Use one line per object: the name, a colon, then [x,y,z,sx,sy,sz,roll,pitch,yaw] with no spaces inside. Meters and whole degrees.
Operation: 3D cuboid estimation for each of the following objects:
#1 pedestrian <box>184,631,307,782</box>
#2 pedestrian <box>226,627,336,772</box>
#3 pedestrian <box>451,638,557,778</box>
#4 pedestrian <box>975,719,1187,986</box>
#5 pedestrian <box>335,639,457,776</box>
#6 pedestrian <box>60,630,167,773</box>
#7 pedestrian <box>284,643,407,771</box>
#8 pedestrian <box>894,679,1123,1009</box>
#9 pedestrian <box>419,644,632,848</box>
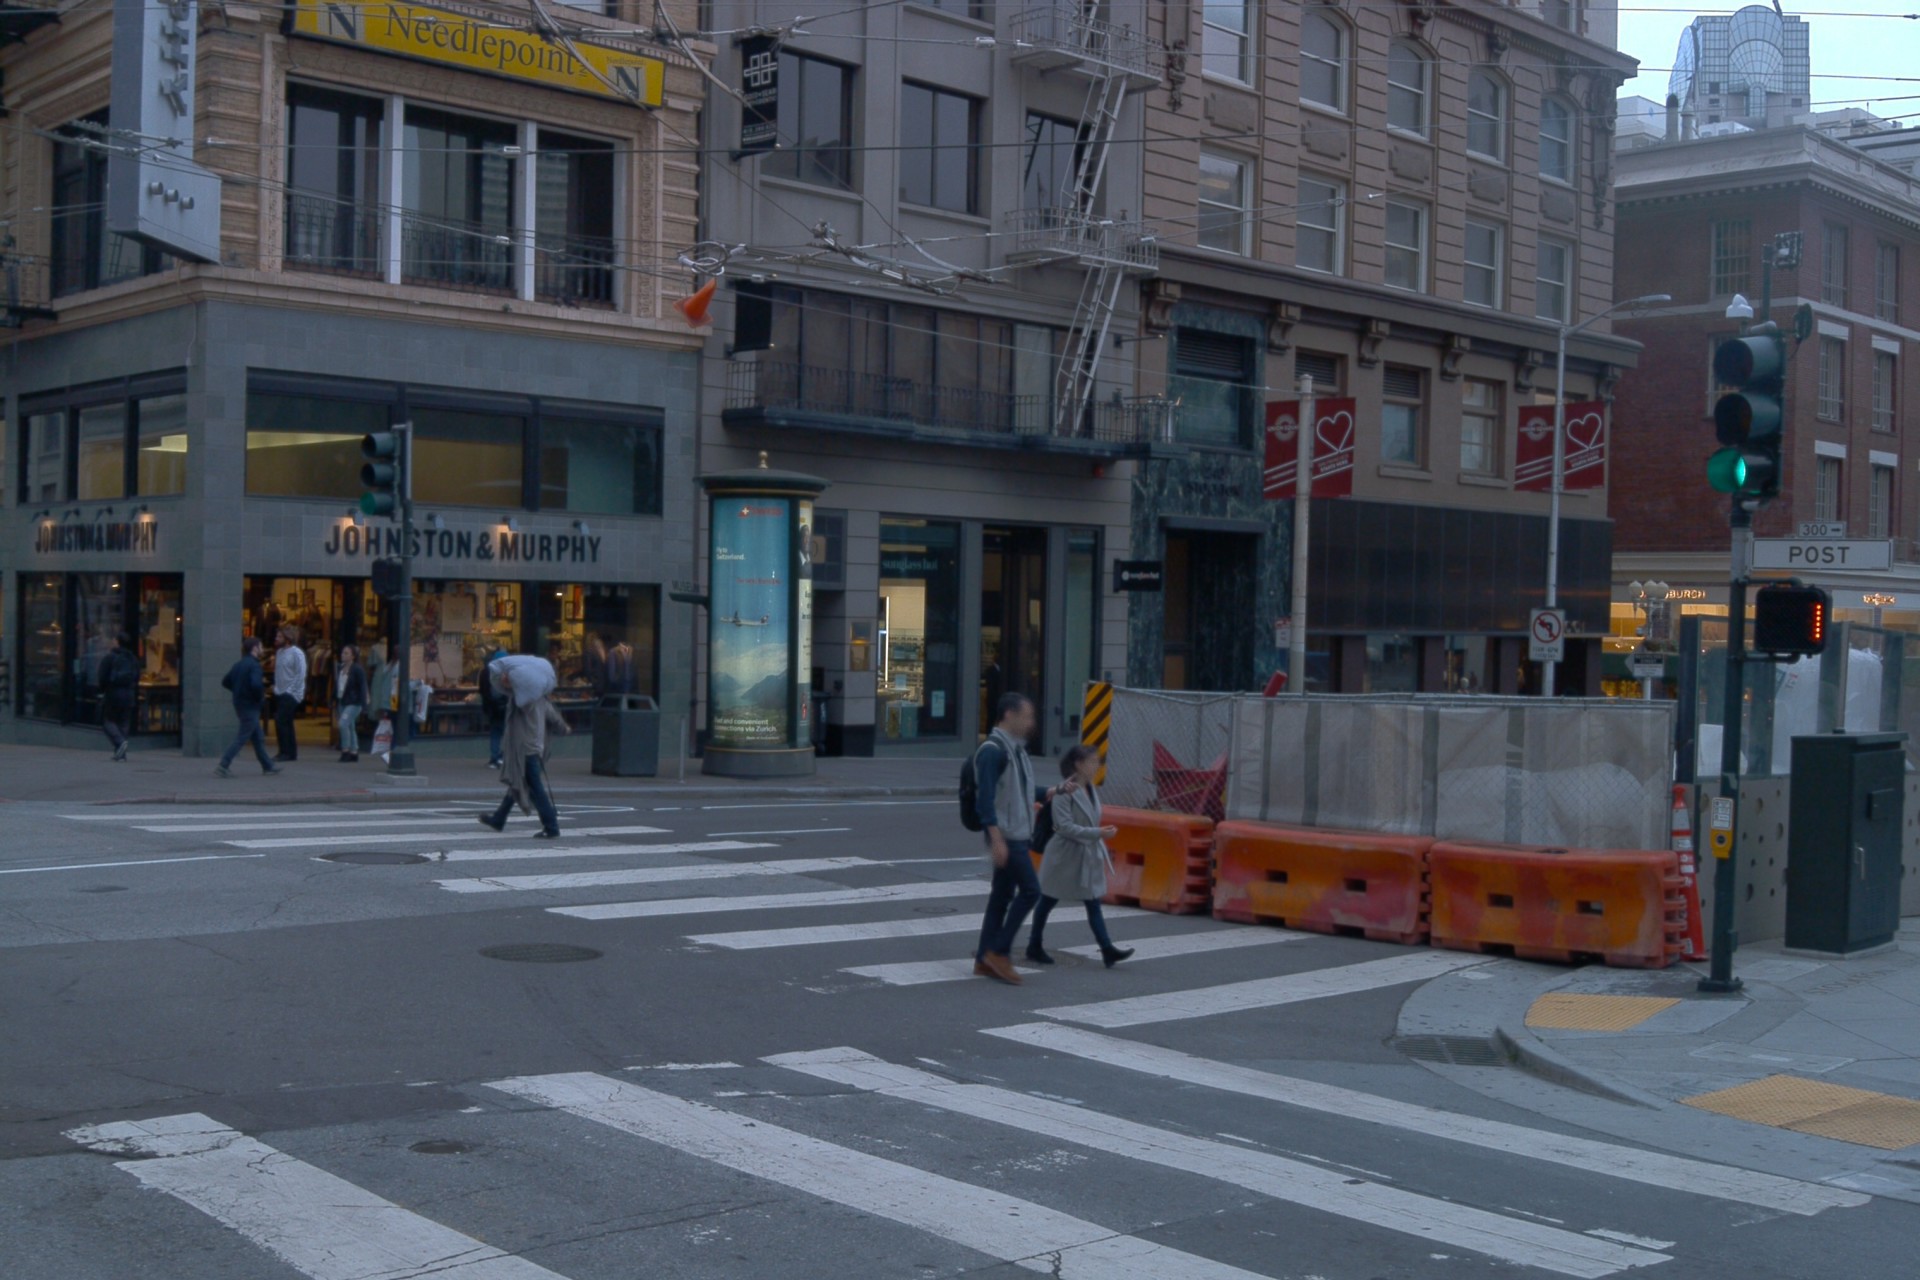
pedestrian: [-8.540,0.769,24.587,1.110,1.760,0.954,0,0,-40]
pedestrian: [-8.914,0.761,27.018,1.001,1.860,0.999,0,0,41]
pedestrian: [-6.223,0.903,28.081,1.001,1.860,0.999,0,0,33]
pedestrian: [0.822,1.393,13.912,1.115,1.660,0.918,0,0,34]
pedestrian: [-7.230,0.840,26.383,1.090,1.710,1.177,0,0,-43]
pedestrian: [-10.768,0.762,26.165,0.890,1.770,1.164,0,0,-45]
pedestrian: [-8.160,0.866,27.337,1.002,1.640,1.208,0,0,36]
pedestrian: [0.320,1.243,13.139,1.115,1.960,1.012,0,0,30]
pedestrian: [-4.093,0.957,19.523,1.393,1.830,1.609,0,0,15]
